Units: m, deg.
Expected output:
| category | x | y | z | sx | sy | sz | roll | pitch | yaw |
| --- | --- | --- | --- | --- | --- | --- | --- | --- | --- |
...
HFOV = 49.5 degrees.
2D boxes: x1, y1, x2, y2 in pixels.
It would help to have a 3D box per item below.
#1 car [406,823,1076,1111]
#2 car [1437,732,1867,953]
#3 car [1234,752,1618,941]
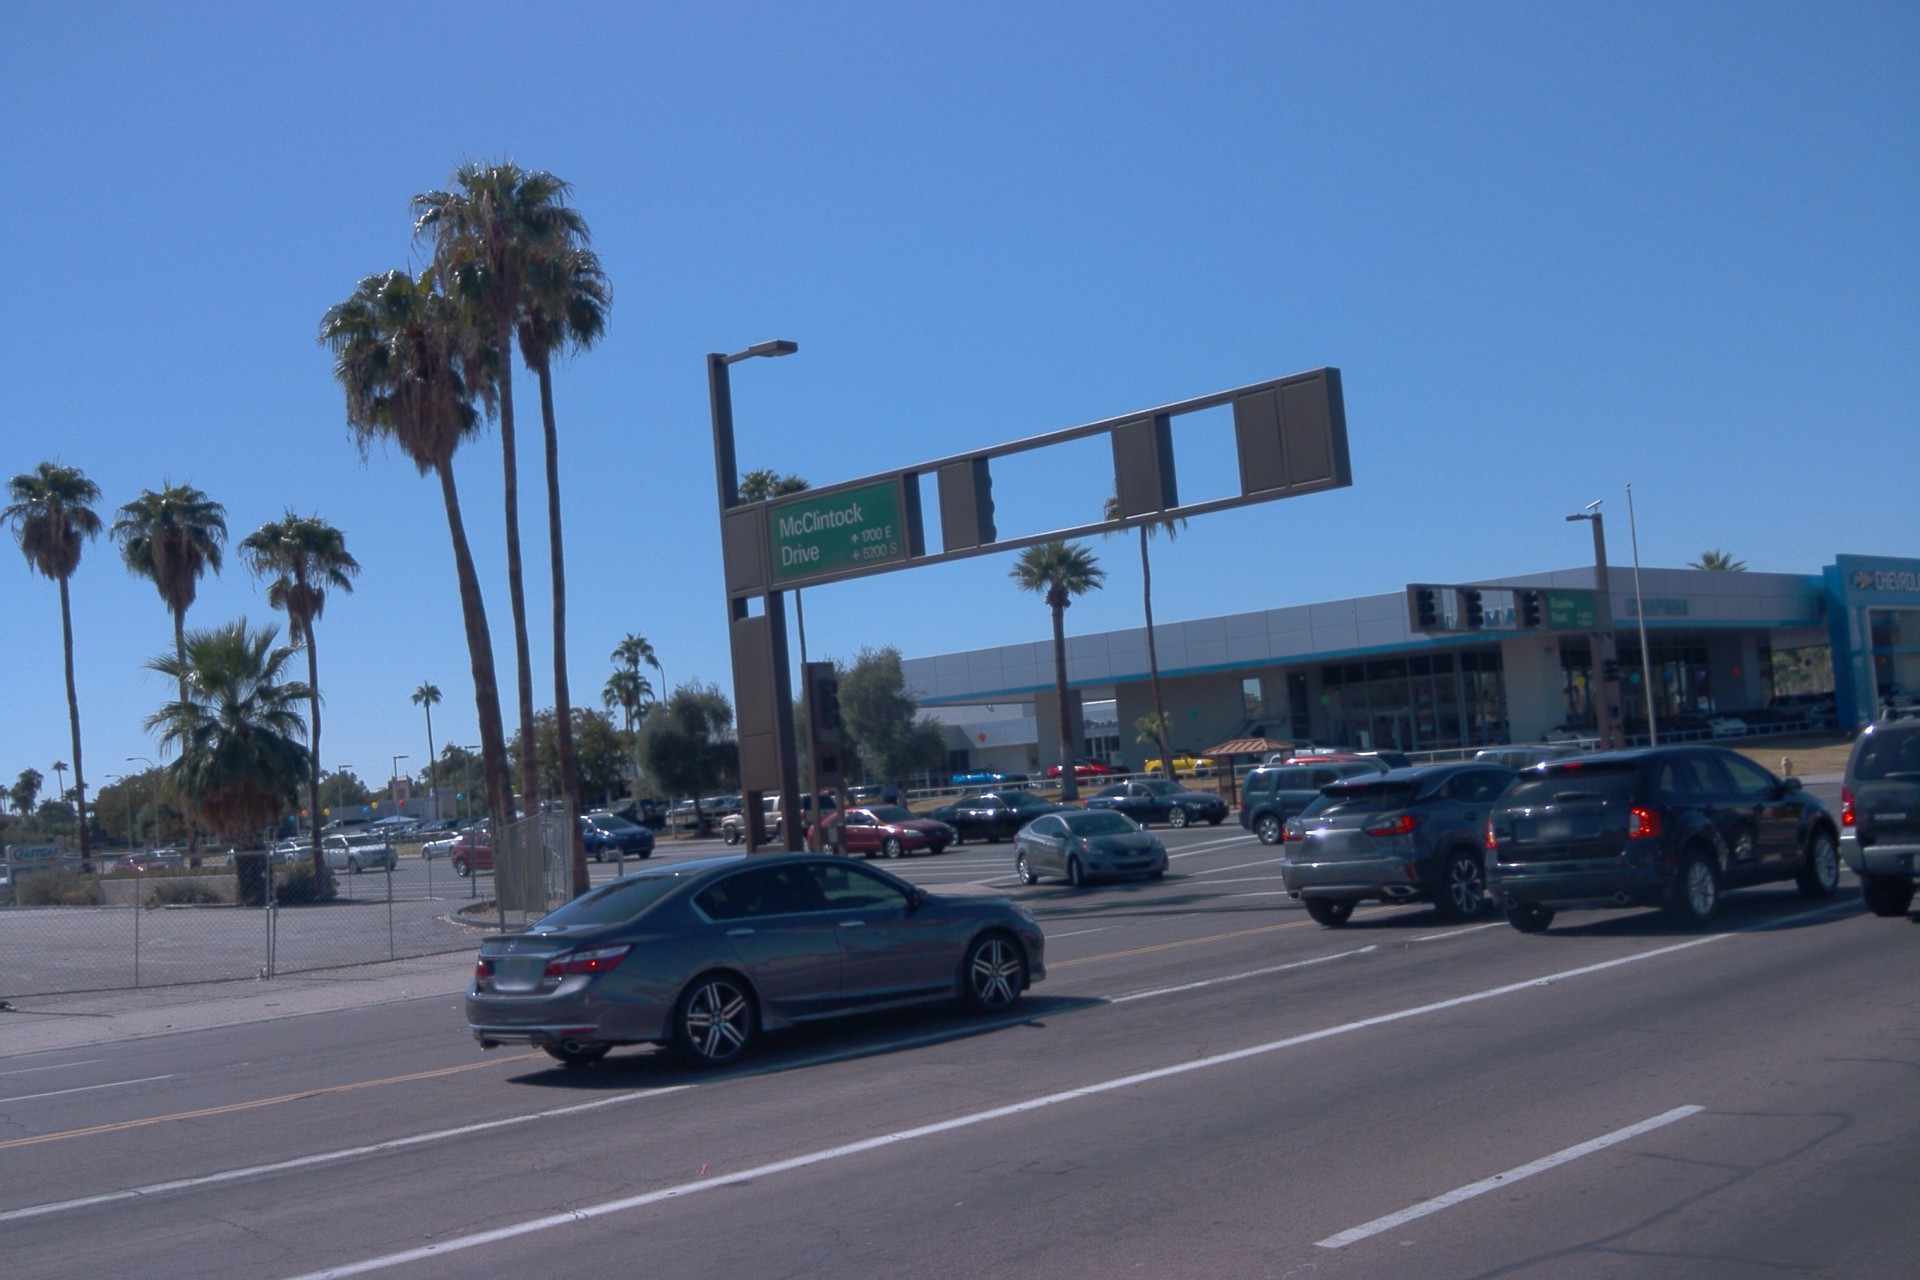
| category | x | y | z | sx | sy | sz | roll | pitch | yaw |
| --- | --- | --- | --- | --- | --- | --- | --- | --- | --- |
| car | -1.551 | 2.376 | 16.241 | 2.139 | 1.490 | 4.938 | -1 | -1 | 45 |
| car | 6.863 | 1.857 | 20.414 | 4.535 | 1.750 | 2.126 | 0 | -1 | -44 |
| car | 5.334 | 2.227 | 23.512 | 2.201 | 1.700 | 4.438 | -1 | -1 | 44 |
